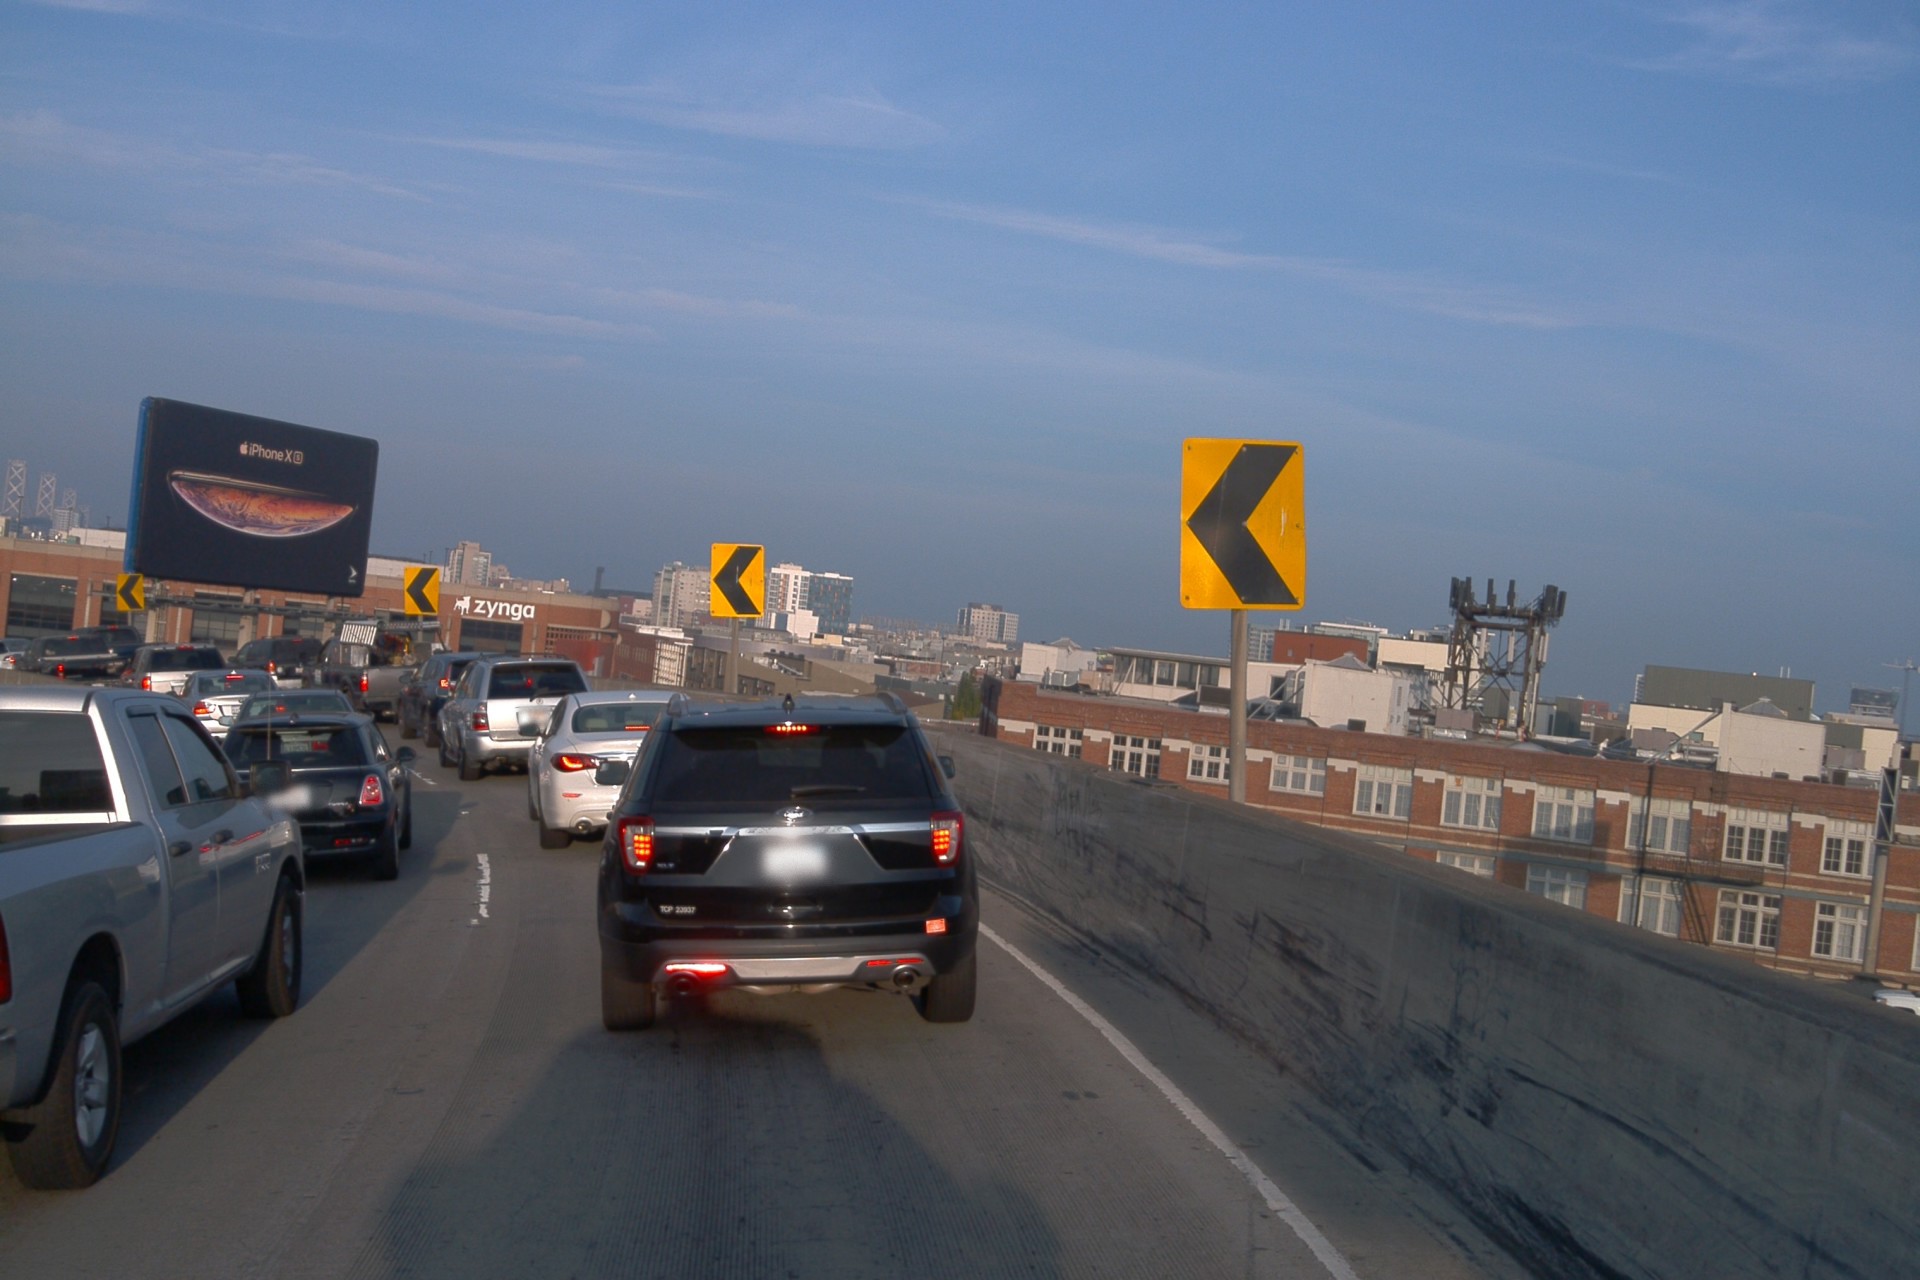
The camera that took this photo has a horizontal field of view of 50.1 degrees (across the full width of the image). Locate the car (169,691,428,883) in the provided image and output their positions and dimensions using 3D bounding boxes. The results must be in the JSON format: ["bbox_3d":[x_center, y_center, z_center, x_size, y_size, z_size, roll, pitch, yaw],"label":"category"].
[{"bbox_3d":[-5.884,1.237,18.690,1.934,1.411,4.084,0,0,-14],"label":"car"}]

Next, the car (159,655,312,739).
[{"bbox_3d":[-12.789,0.952,36.032,2.005,1.310,4.887,0,0,-26],"label":"car"}]

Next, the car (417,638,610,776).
[{"bbox_3d":[-6.511,0.885,29.594,1.992,1.820,4.394,0,0,-22],"label":"car"}]

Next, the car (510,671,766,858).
[{"bbox_3d":[-3.404,1.160,20.961,2.144,1.590,4.509,0,0,-15],"label":"car"}]

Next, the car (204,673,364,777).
[{"bbox_3d":[-8.776,1.045,26.614,1.825,1.160,3.836,0,0,-19],"label":"car"}]

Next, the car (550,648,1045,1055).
[{"bbox_3d":[-1.055,0.998,12.147,2.327,1.850,4.877,0,0,-7],"label":"car"}]
